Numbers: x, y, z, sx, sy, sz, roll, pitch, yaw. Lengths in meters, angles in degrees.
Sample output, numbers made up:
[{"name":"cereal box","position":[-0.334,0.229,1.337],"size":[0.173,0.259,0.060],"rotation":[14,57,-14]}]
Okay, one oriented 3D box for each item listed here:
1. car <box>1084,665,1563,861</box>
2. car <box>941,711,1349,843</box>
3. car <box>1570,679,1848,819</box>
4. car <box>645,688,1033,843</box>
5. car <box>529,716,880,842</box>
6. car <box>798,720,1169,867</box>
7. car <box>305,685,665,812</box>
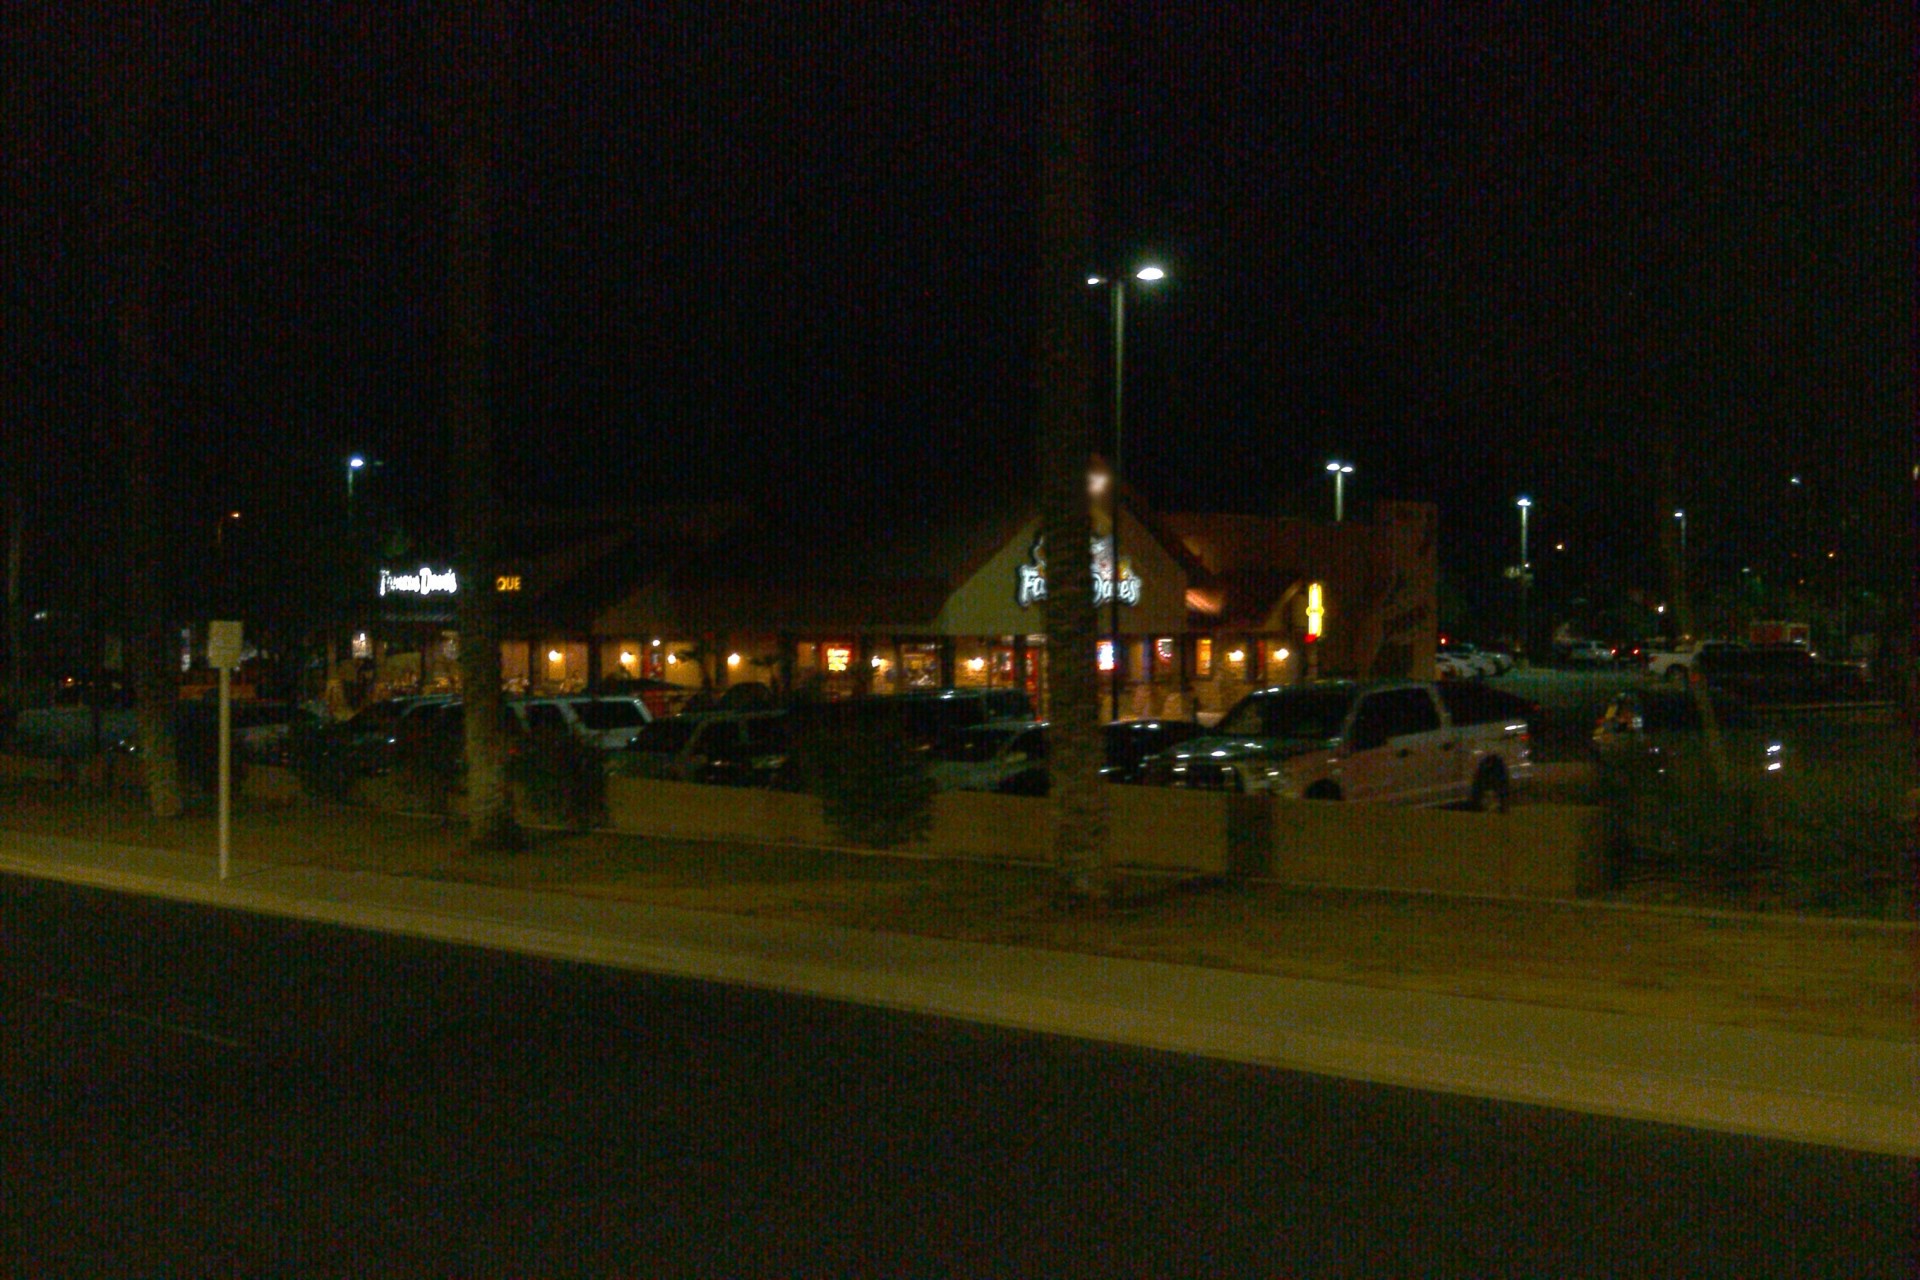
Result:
[{"name":"car","position":[4.276,1.245,23.510],"size":[2.516,1.860,6.040],"rotation":[-1,0,42]},{"name":"car","position":[2.370,1.606,25.578],"size":[5.010,1.290,2.302],"rotation":[0,0,-45]},{"name":"car","position":[9.853,1.381,27.837],"size":[2.440,1.640,4.934],"rotation":[-1,0,7]},{"name":"car","position":[-1.621,1.685,29.479],"size":[2.440,1.880,5.176],"rotation":[-1,0,45]},{"name":"car","position":[-3.745,2.002,31.107],"size":[4.956,1.560,2.081],"rotation":[0,0,-44]},{"name":"car","position":[0.379,1.941,27.464],"size":[4.626,1.600,2.218],"rotation":[0,0,-43]},{"name":"car","position":[-7.872,1.738,34.836],"size":[5.369,1.850,2.467],"rotation":[0,0,-45]}]
